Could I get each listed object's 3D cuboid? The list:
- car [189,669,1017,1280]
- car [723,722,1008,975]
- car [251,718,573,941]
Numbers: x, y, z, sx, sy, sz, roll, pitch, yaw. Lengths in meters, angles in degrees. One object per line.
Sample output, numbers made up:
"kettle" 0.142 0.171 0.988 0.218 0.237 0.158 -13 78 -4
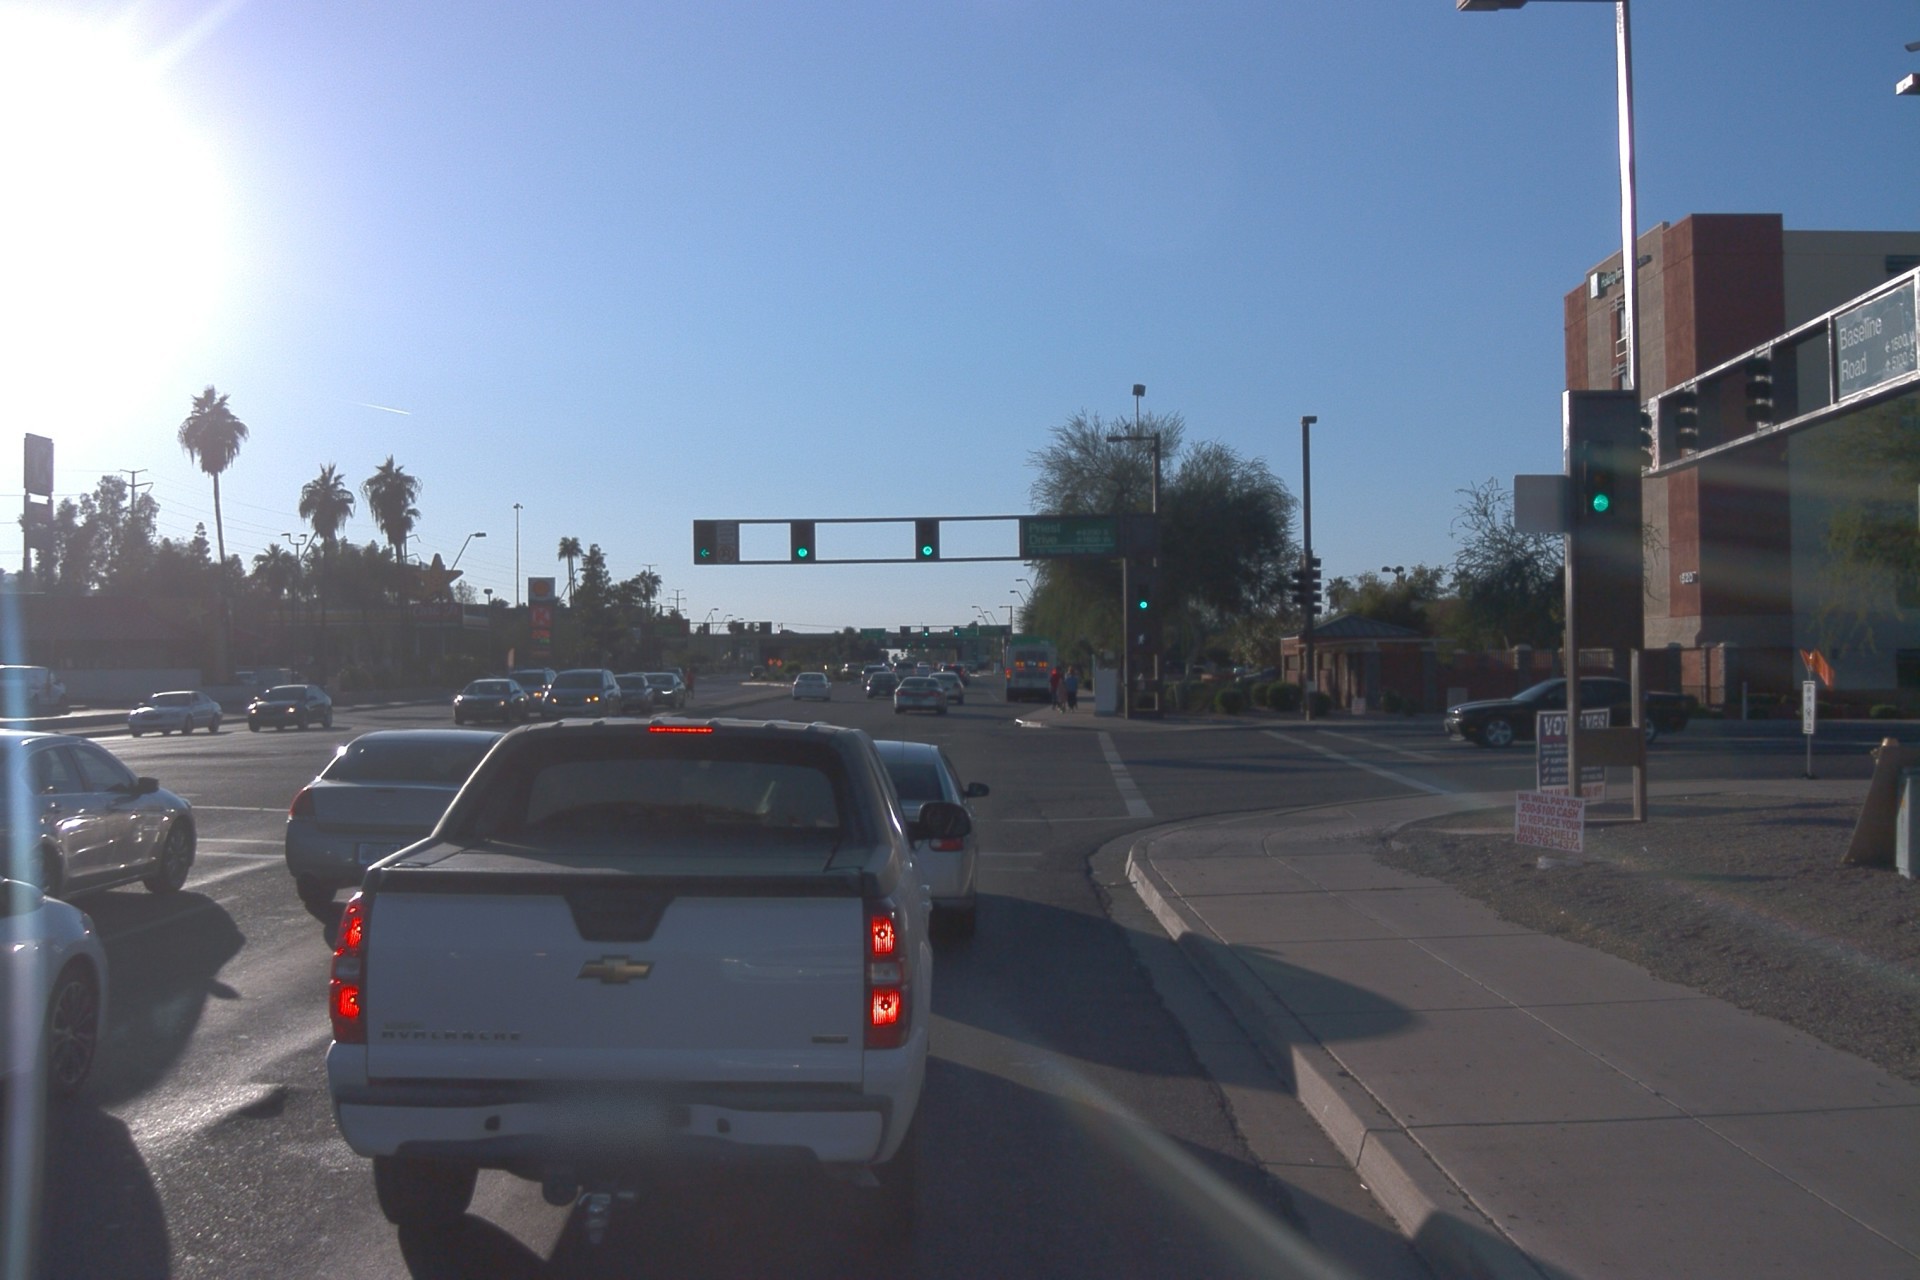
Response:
"car" -1.142 1.201 8.997 2.477 2.120 5.357 1 -1 -1
"car" -0.704 1.593 17.325 2.031 1.680 4.704 1 -1 -1
"car" -4.622 1.546 18.133 1.769 1.630 3.866 1 -1 0
